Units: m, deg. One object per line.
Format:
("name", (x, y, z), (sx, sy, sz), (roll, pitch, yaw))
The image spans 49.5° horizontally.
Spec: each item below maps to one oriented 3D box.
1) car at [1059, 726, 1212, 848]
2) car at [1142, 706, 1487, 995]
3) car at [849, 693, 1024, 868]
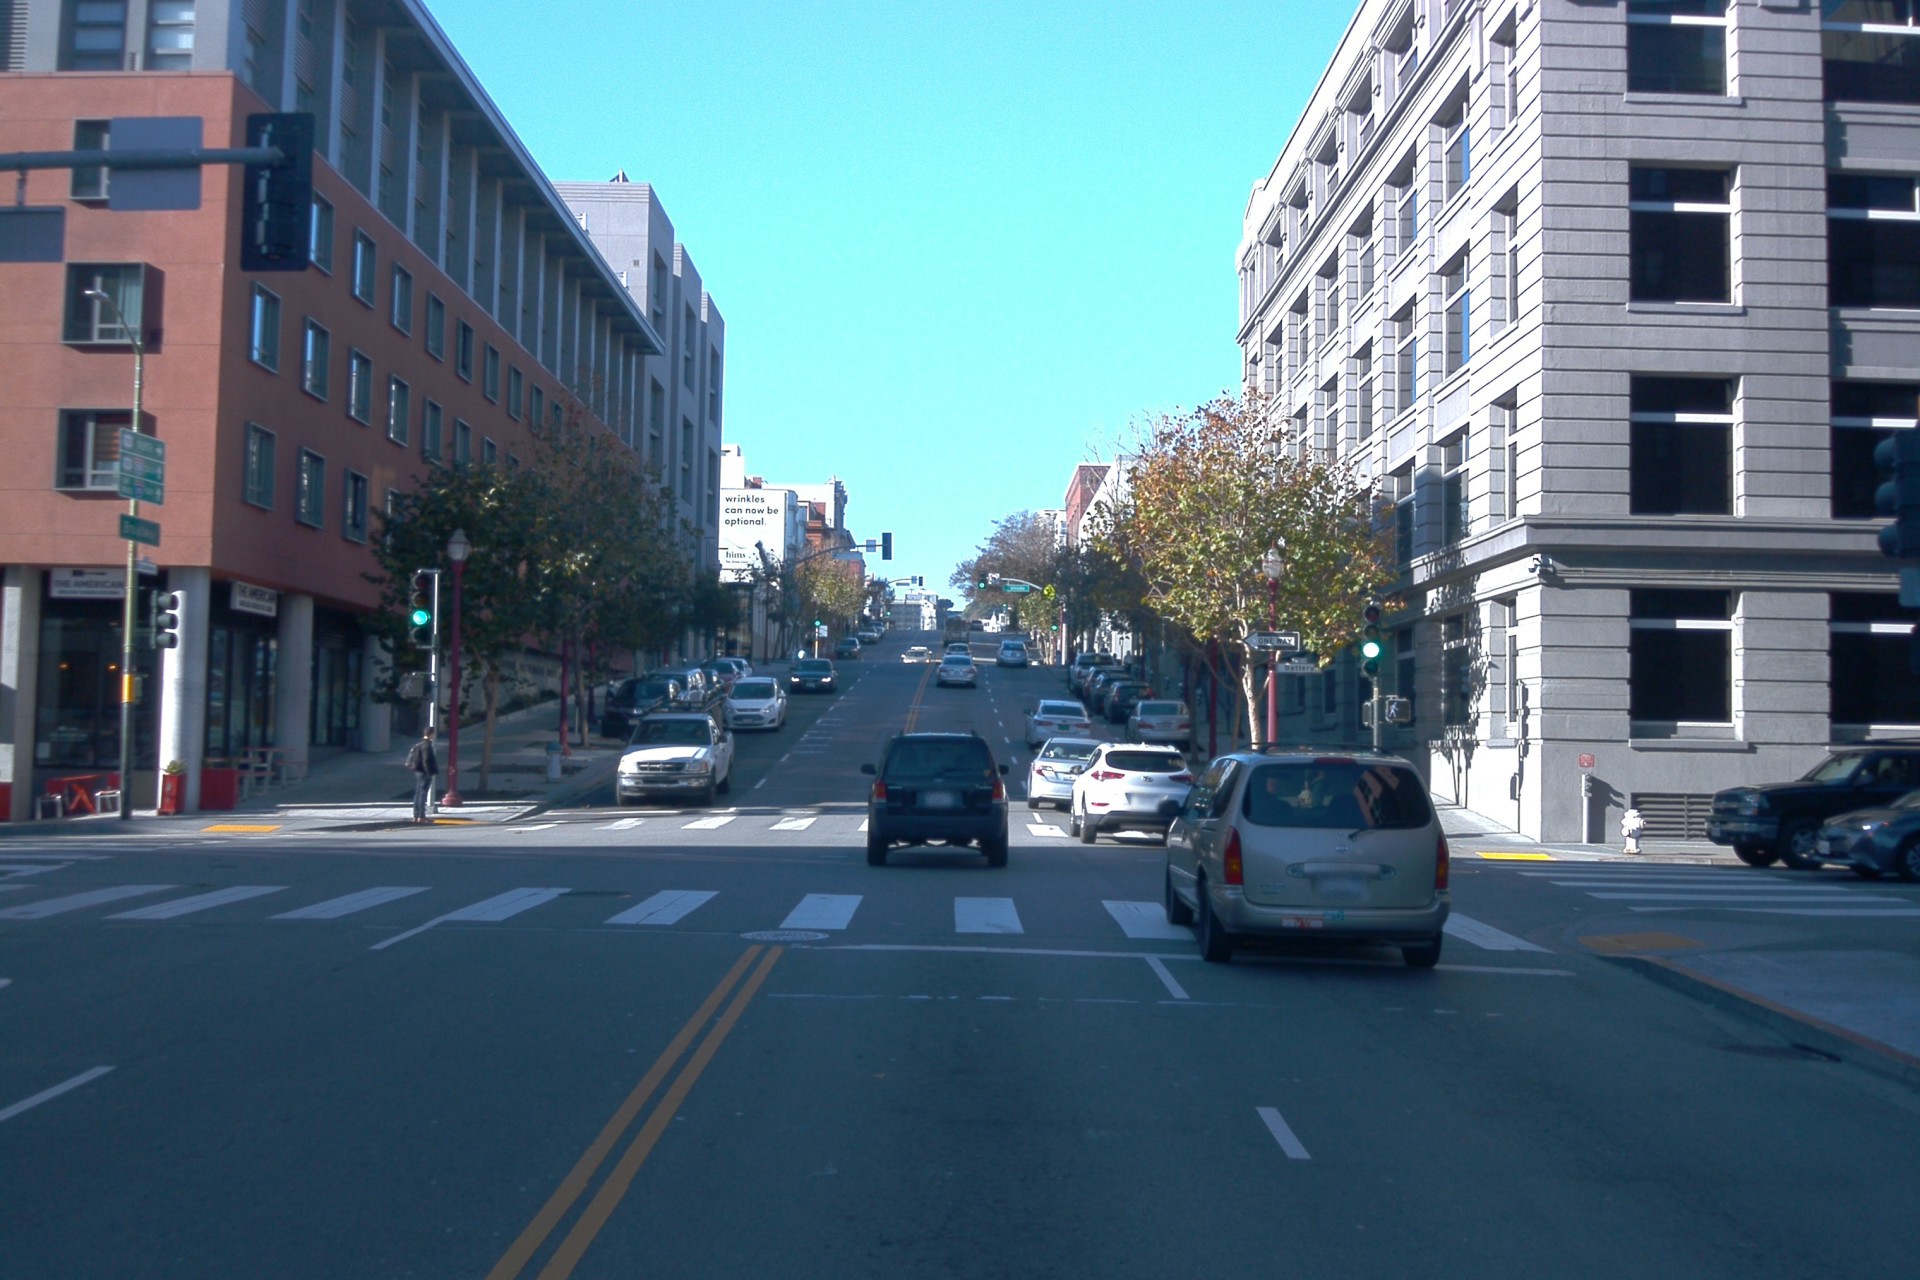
("car", (2.848, 2.397, 34.798), (2.088, 1.800, 4.683), (1, -2, -1))
("car", (2.821, 1.624, 17.703), (2.113, 2.070, 4.763), (1, -2, 0))
("car", (-0.331, 1.778, 27.710), (2.096, 2.100, 4.544), (1, -2, -1))
